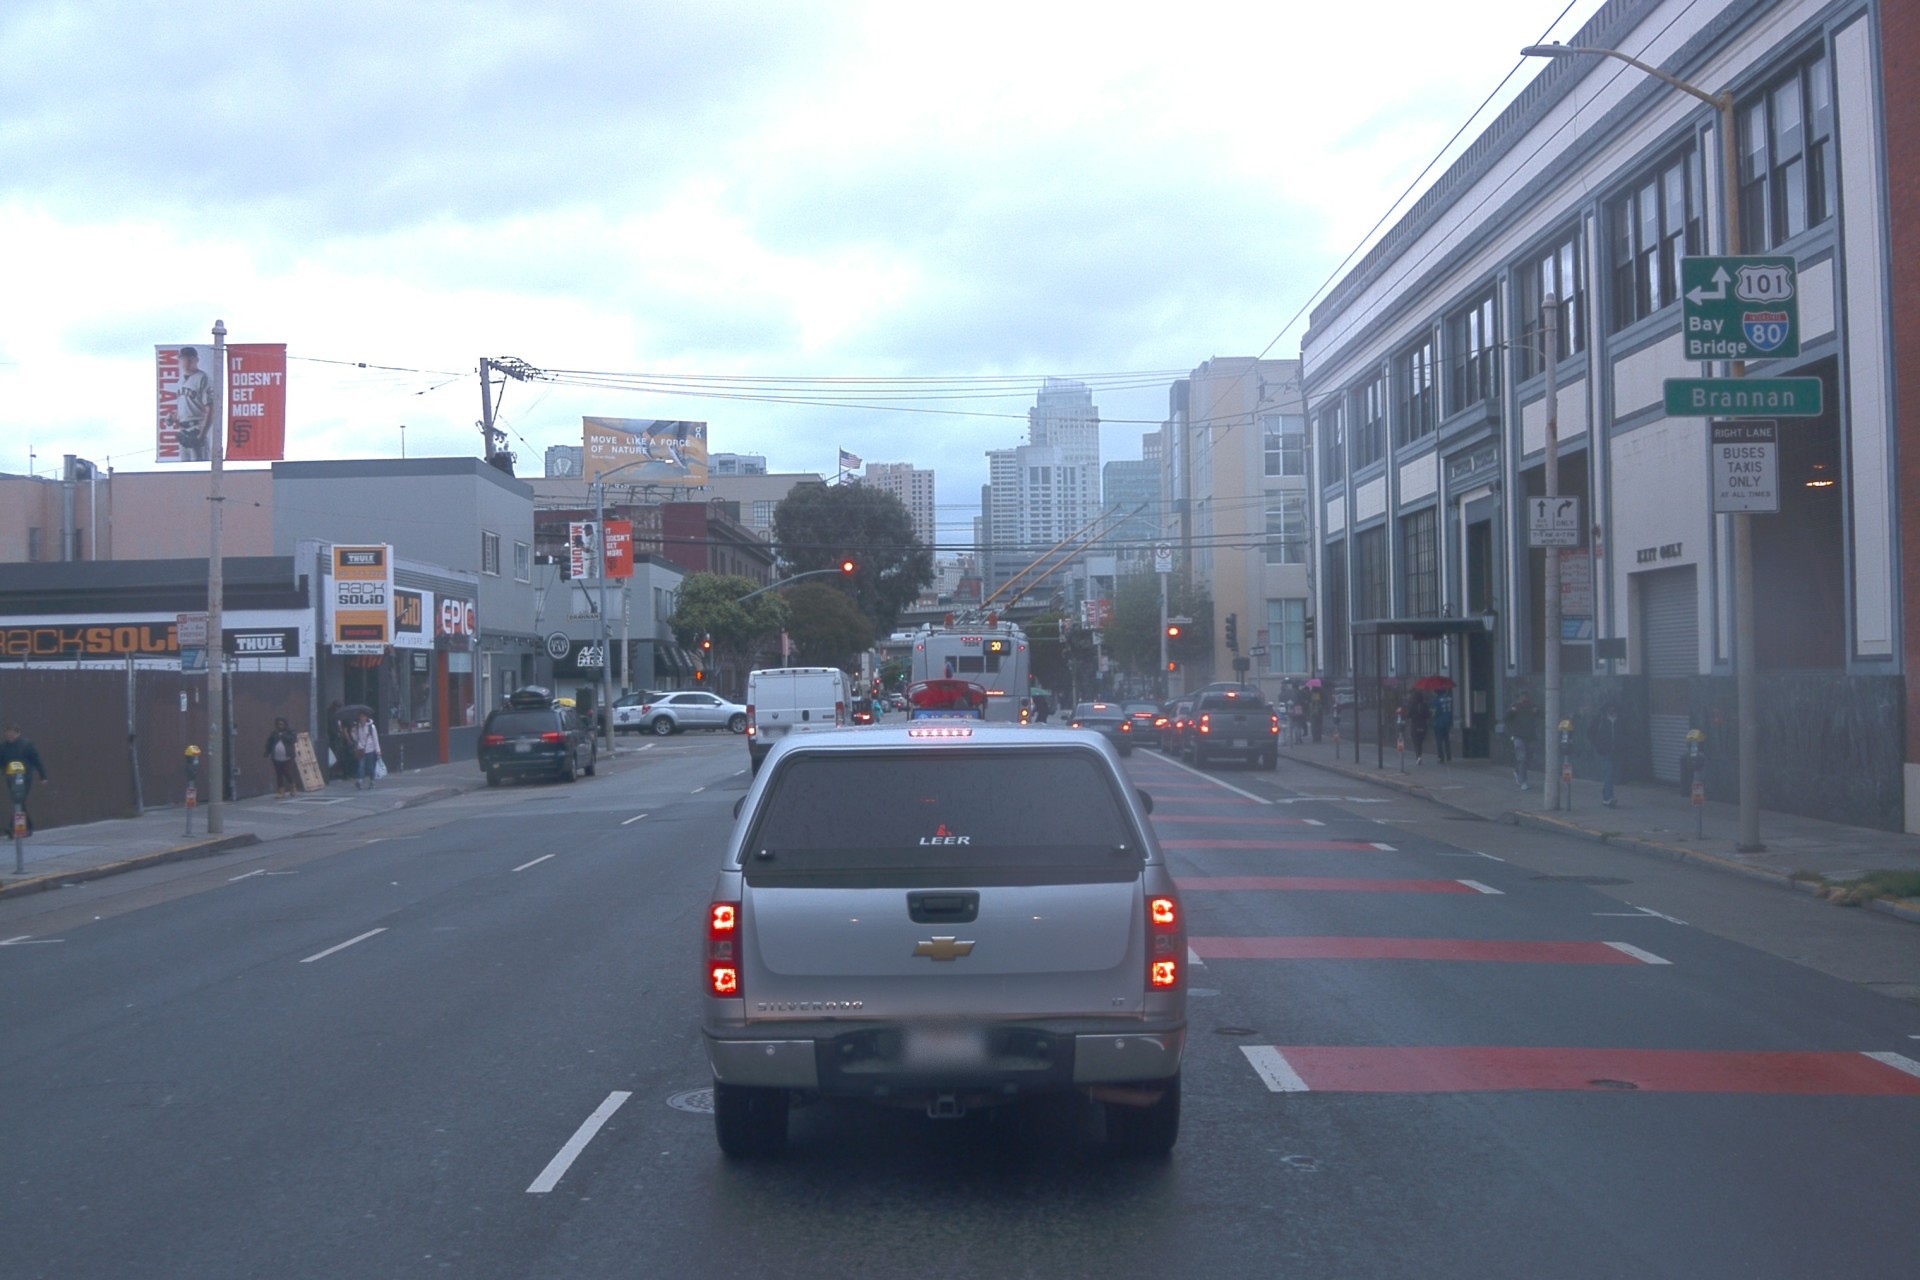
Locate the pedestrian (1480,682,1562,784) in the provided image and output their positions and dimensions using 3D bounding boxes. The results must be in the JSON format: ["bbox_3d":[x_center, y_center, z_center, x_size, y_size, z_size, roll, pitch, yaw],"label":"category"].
[{"bbox_3d":[9.933,1.630,36.770,1.059,1.770,1.151,0,-1,-6],"label":"pedestrian"}]

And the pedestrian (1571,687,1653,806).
[{"bbox_3d":[9.750,1.580,31.043,0.899,1.750,1.035,0,-1,1],"label":"pedestrian"}]

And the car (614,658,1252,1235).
[{"bbox_3d":[-0.090,1.210,10.413,2.437,2.200,4.924,0,-1,0],"label":"car"}]
